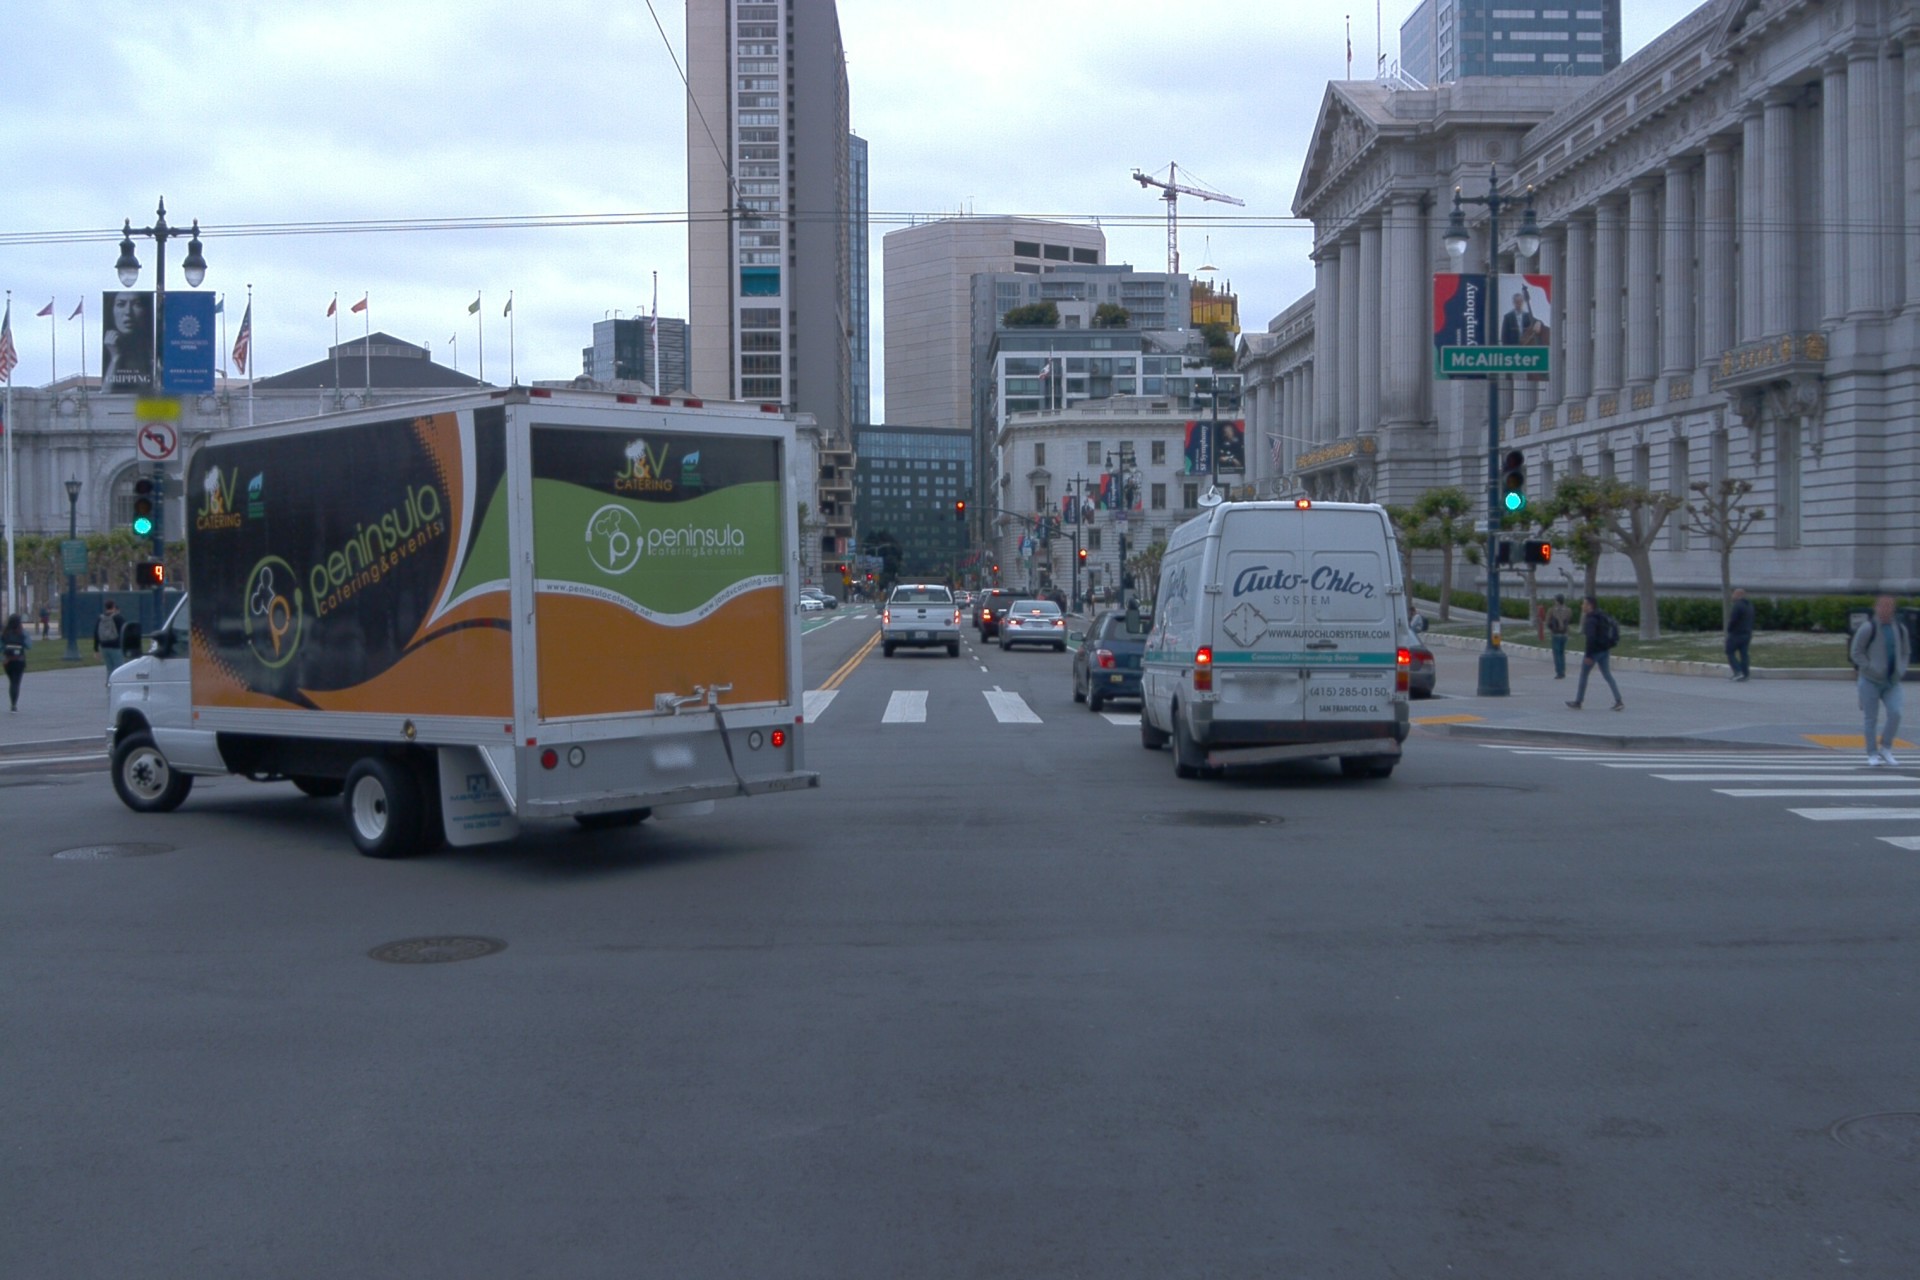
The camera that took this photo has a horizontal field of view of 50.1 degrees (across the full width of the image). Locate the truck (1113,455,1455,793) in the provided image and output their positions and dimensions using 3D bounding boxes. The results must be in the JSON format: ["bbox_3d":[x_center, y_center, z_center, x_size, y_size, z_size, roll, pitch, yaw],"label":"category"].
[{"bbox_3d":[2.973,-0.184,20.521,2.404,2.850,6.221,0,1,0],"label":"truck"}]

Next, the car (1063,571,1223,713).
[{"bbox_3d":[2.676,-0.005,30.955,1.934,1.990,4.032,0,1,-1],"label":"car"}]

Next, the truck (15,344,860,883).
[{"bbox_3d":[-4.393,-0.207,16.152,7.319,3.300,2.903,1,1,43],"label":"truck"}]

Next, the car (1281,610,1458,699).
[{"bbox_3d":[7.375,0.218,37.504,2.033,1.512,4.560,0,1,-4],"label":"car"}]

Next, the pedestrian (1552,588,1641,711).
[{"bbox_3d":[9.316,0.126,30.093,0.827,1.760,0.939,-1,1,-38],"label":"pedestrian"}]
